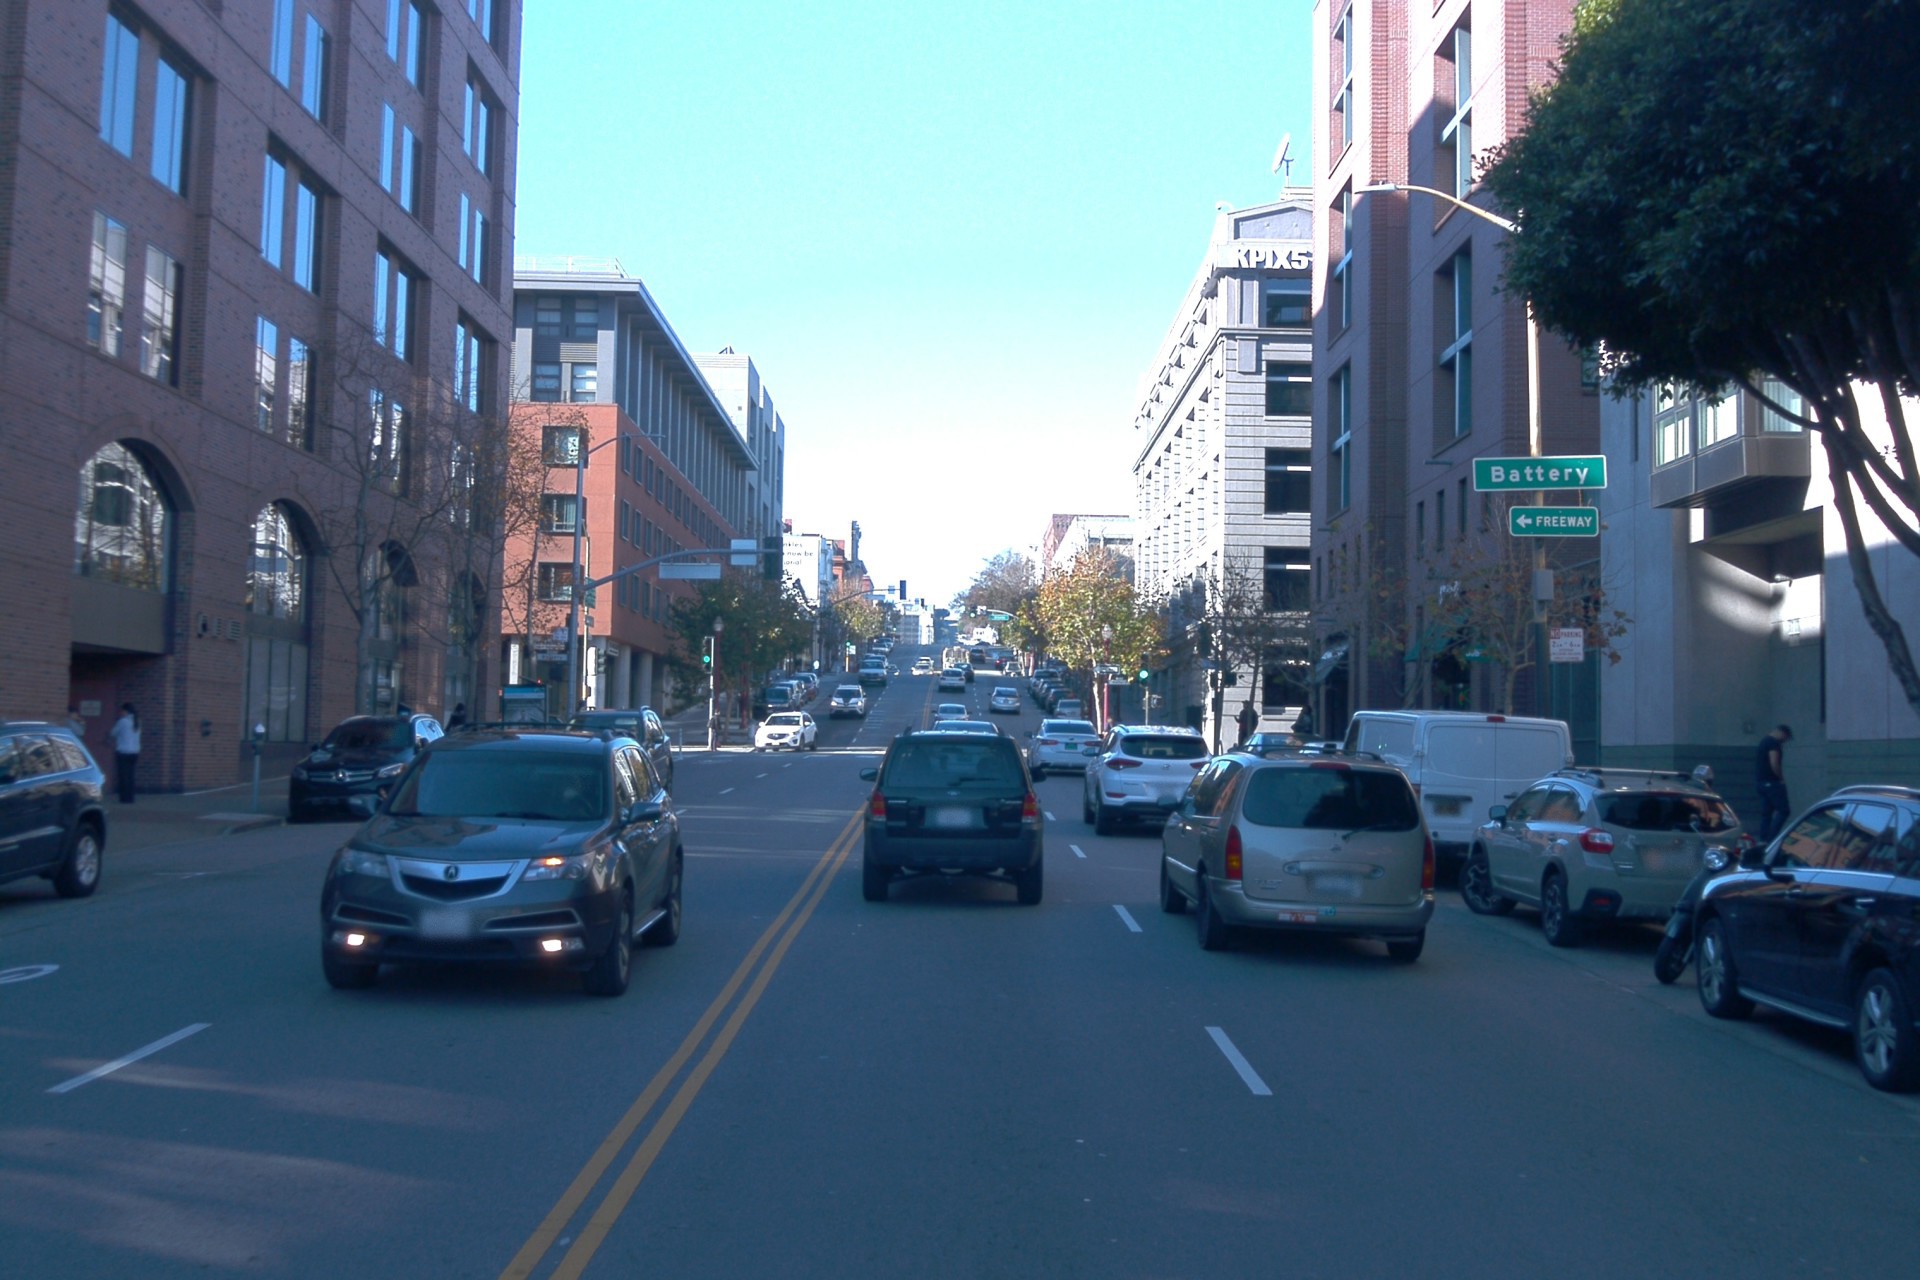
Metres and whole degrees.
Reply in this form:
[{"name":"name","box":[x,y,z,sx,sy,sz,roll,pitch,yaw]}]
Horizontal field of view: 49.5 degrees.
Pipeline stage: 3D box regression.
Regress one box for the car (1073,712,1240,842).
[{"name":"car","box":[2.956,2.059,32.278,2.088,1.800,4.683,1,-2,-1]}]

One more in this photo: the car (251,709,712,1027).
[{"name":"car","box":[-3.237,1.490,15.291,2.297,1.890,4.943,1,-2,-1]}]

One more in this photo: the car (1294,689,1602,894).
[{"name":"car","box":[6.182,1.851,27.333,2.532,2.340,6.151,1,-2,-1]}]

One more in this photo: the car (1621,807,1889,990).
[{"name":"car","box":[6.495,2.105,17.040,1.926,1.410,0.715,1,-1,-5]}]

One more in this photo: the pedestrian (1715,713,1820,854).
[{"name":"pedestrian","box":[11.015,1.945,28.400,1.016,1.860,1.061,1,-1,0]}]

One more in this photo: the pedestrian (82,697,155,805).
[{"name":"pedestrian","box":[-13.385,1.758,33.099,0.735,1.670,0.724,0,-2,24]}]

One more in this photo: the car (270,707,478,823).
[{"name":"car","box":[-9.578,2.002,34.421,2.109,1.740,4.694,1,-2,-1]}]

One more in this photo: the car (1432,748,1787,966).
[{"name":"car","box":[6.297,2.045,20.788,2.079,1.790,4.584,1,-2,0]}]

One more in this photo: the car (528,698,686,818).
[{"name":"car","box":[-6.055,1.981,36.201,1.969,1.920,4.541,1,-2,0]}]

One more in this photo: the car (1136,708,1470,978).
[{"name":"car","box":[2.918,1.681,18.818,2.113,2.070,4.763,1,-2,-1]}]

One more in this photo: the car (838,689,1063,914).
[{"name":"car","box":[-0.087,1.592,22.037,2.096,2.100,4.545,1,-2,0]}]
